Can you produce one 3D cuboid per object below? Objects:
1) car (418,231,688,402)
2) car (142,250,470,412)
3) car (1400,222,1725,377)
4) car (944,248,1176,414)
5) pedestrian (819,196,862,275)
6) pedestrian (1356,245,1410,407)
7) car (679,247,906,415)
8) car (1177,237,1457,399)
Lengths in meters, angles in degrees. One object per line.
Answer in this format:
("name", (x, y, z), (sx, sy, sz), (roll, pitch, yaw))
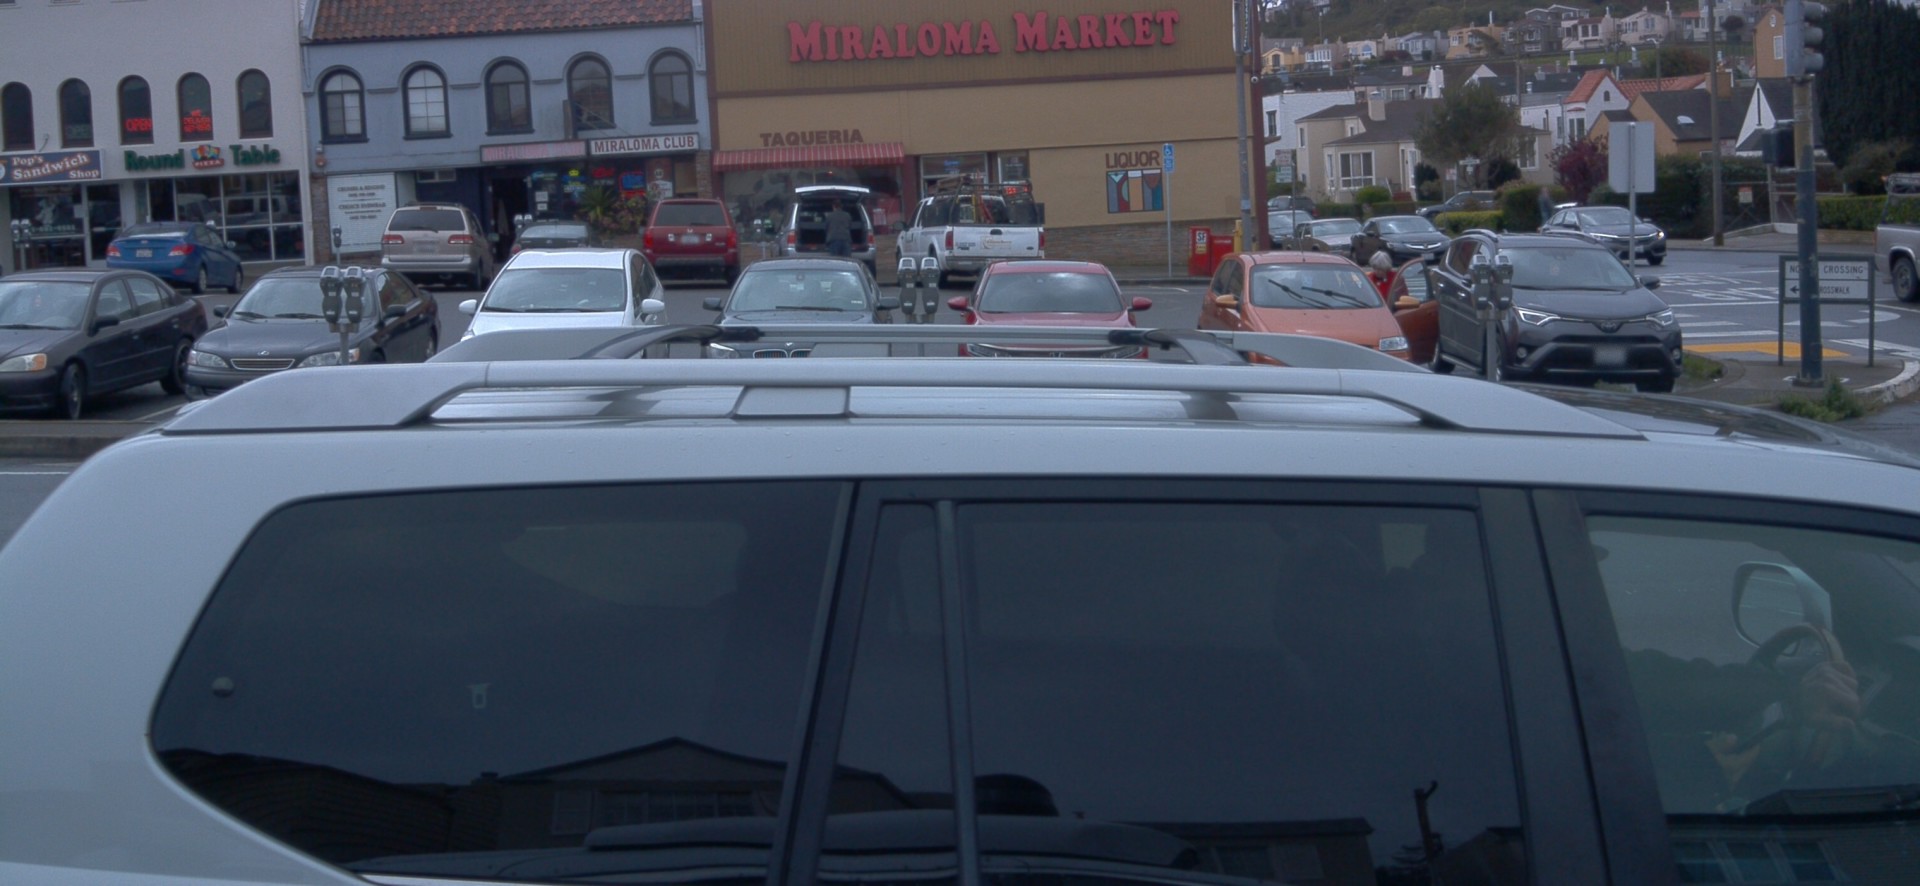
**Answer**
("car", (-4.040, -1.404, 21.300), (2.132, 1.491, 4.678), (0, 6, -4))
("car", (-6.691, -1.268, 21.702), (2.023, 1.392, 4.712), (0, 6, -1))
("car", (6.415, -1.654, 22.575), (2.205, 1.461, 4.580), (0, 6, 0))
("car", (0.933, -1.279, 21.830), (2.185, 1.461, 4.636), (0, 6, -1))
("pedestrian", (-2.262, -3.933, 39.028), (0.705, 1.457, 0.722), (-1, 2, -14))
("pedestrian", (4.486, -1.252, 21.893), (0.462, 1.696, 0.418), (0, 2, -3))
("car", (-1.630, -1.264, 21.658), (2.112, 1.461, 4.574), (0, 6, -1))
("car", (3.642, -1.402, 21.800), (2.049, 1.462, 4.037), (0, 6, -4))
